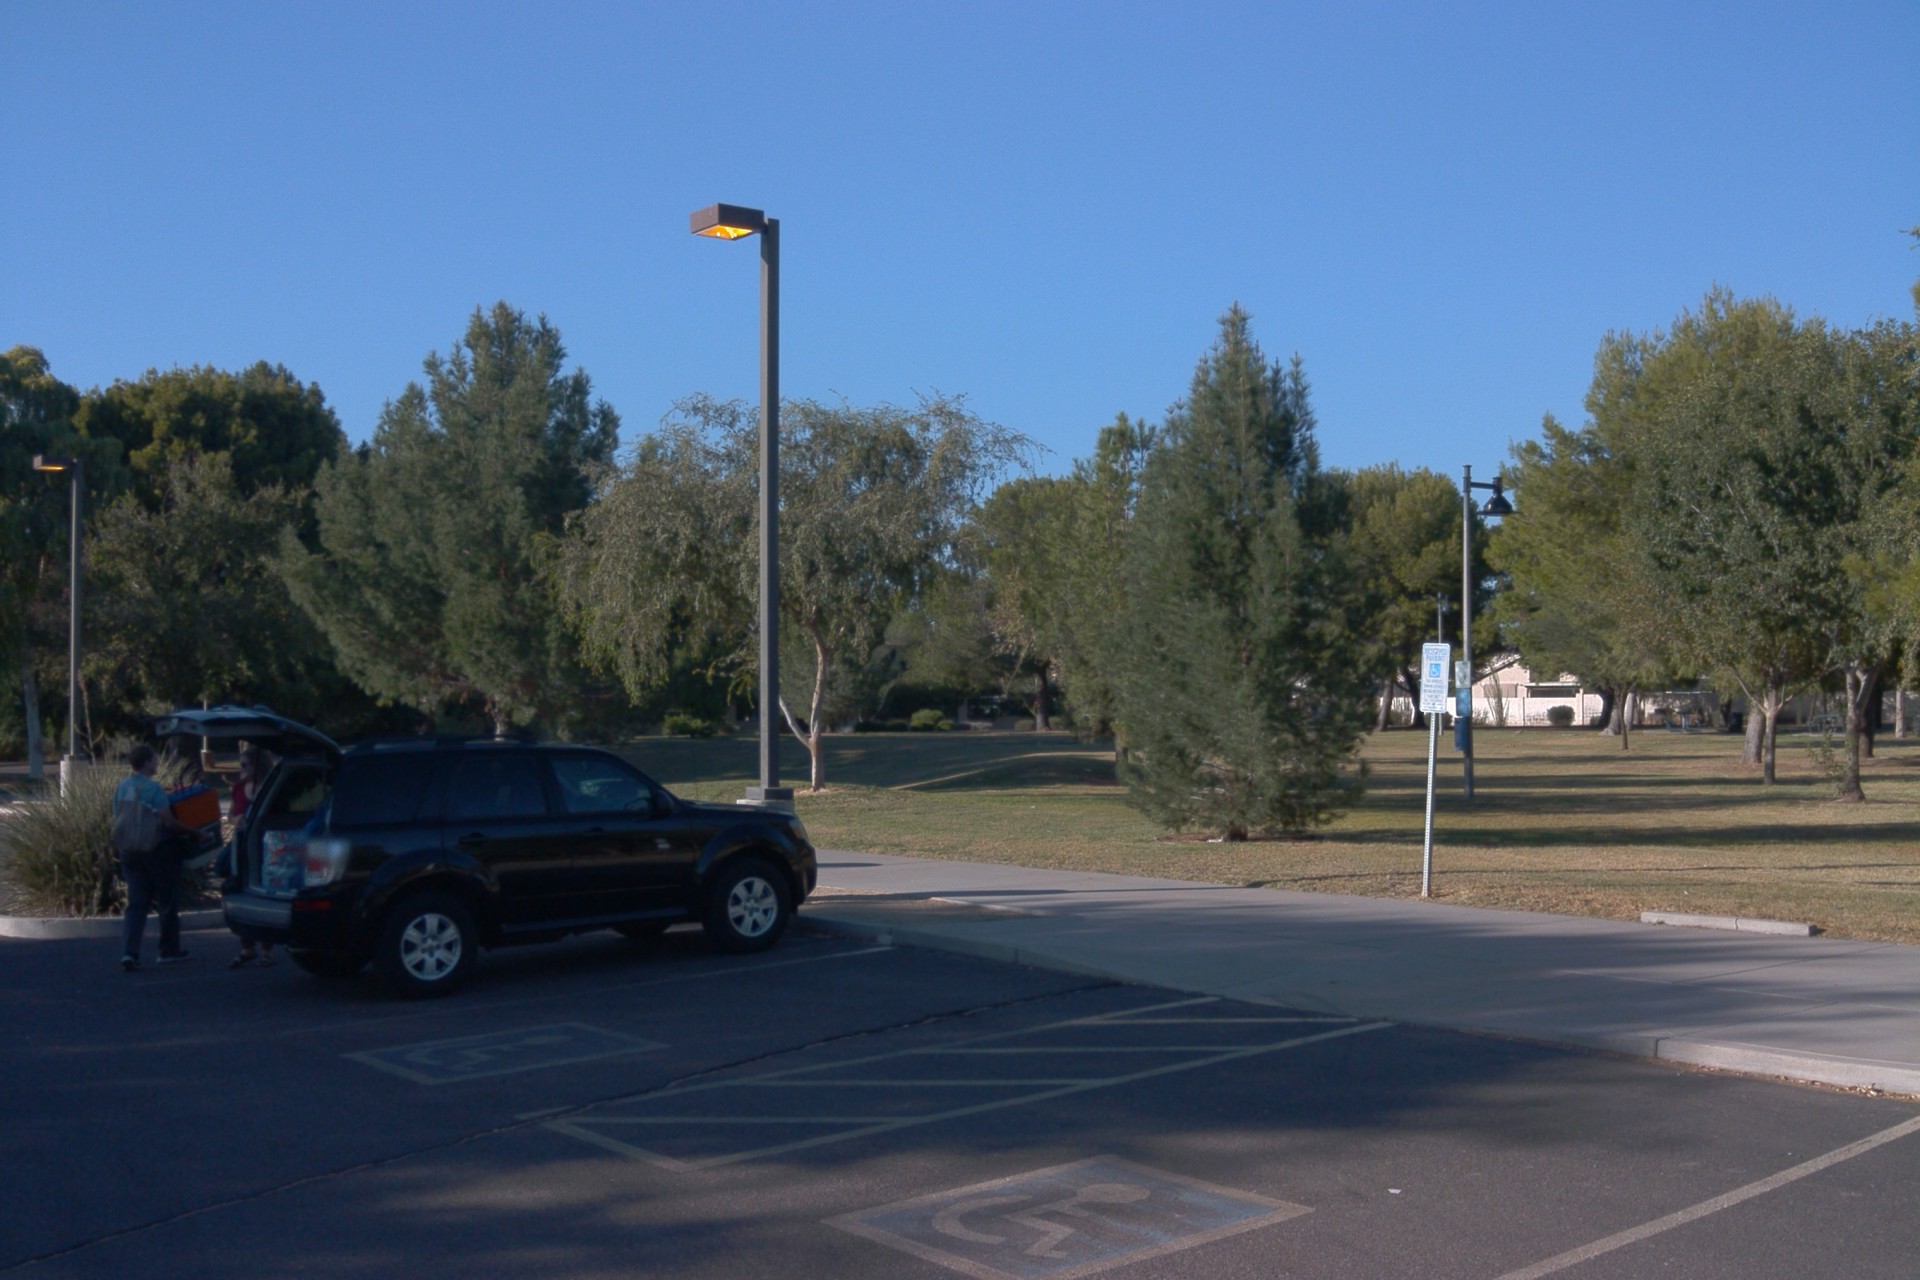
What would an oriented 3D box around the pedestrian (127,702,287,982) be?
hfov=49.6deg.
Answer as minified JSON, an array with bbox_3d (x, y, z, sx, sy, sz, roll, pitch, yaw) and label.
[{"bbox_3d":[-5.664,1.497,15.690,0.891,2.040,0.885,0,-1,-1],"label":"pedestrian"}]

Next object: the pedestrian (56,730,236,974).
[{"bbox_3d":[-6.229,1.596,15.971,1.000,1.790,1.000,0,-1,-1],"label":"pedestrian"}]

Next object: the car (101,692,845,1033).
[{"bbox_3d":[-3.437,1.436,15.219,4.872,2.100,2.066,1,-1,-38],"label":"car"}]
